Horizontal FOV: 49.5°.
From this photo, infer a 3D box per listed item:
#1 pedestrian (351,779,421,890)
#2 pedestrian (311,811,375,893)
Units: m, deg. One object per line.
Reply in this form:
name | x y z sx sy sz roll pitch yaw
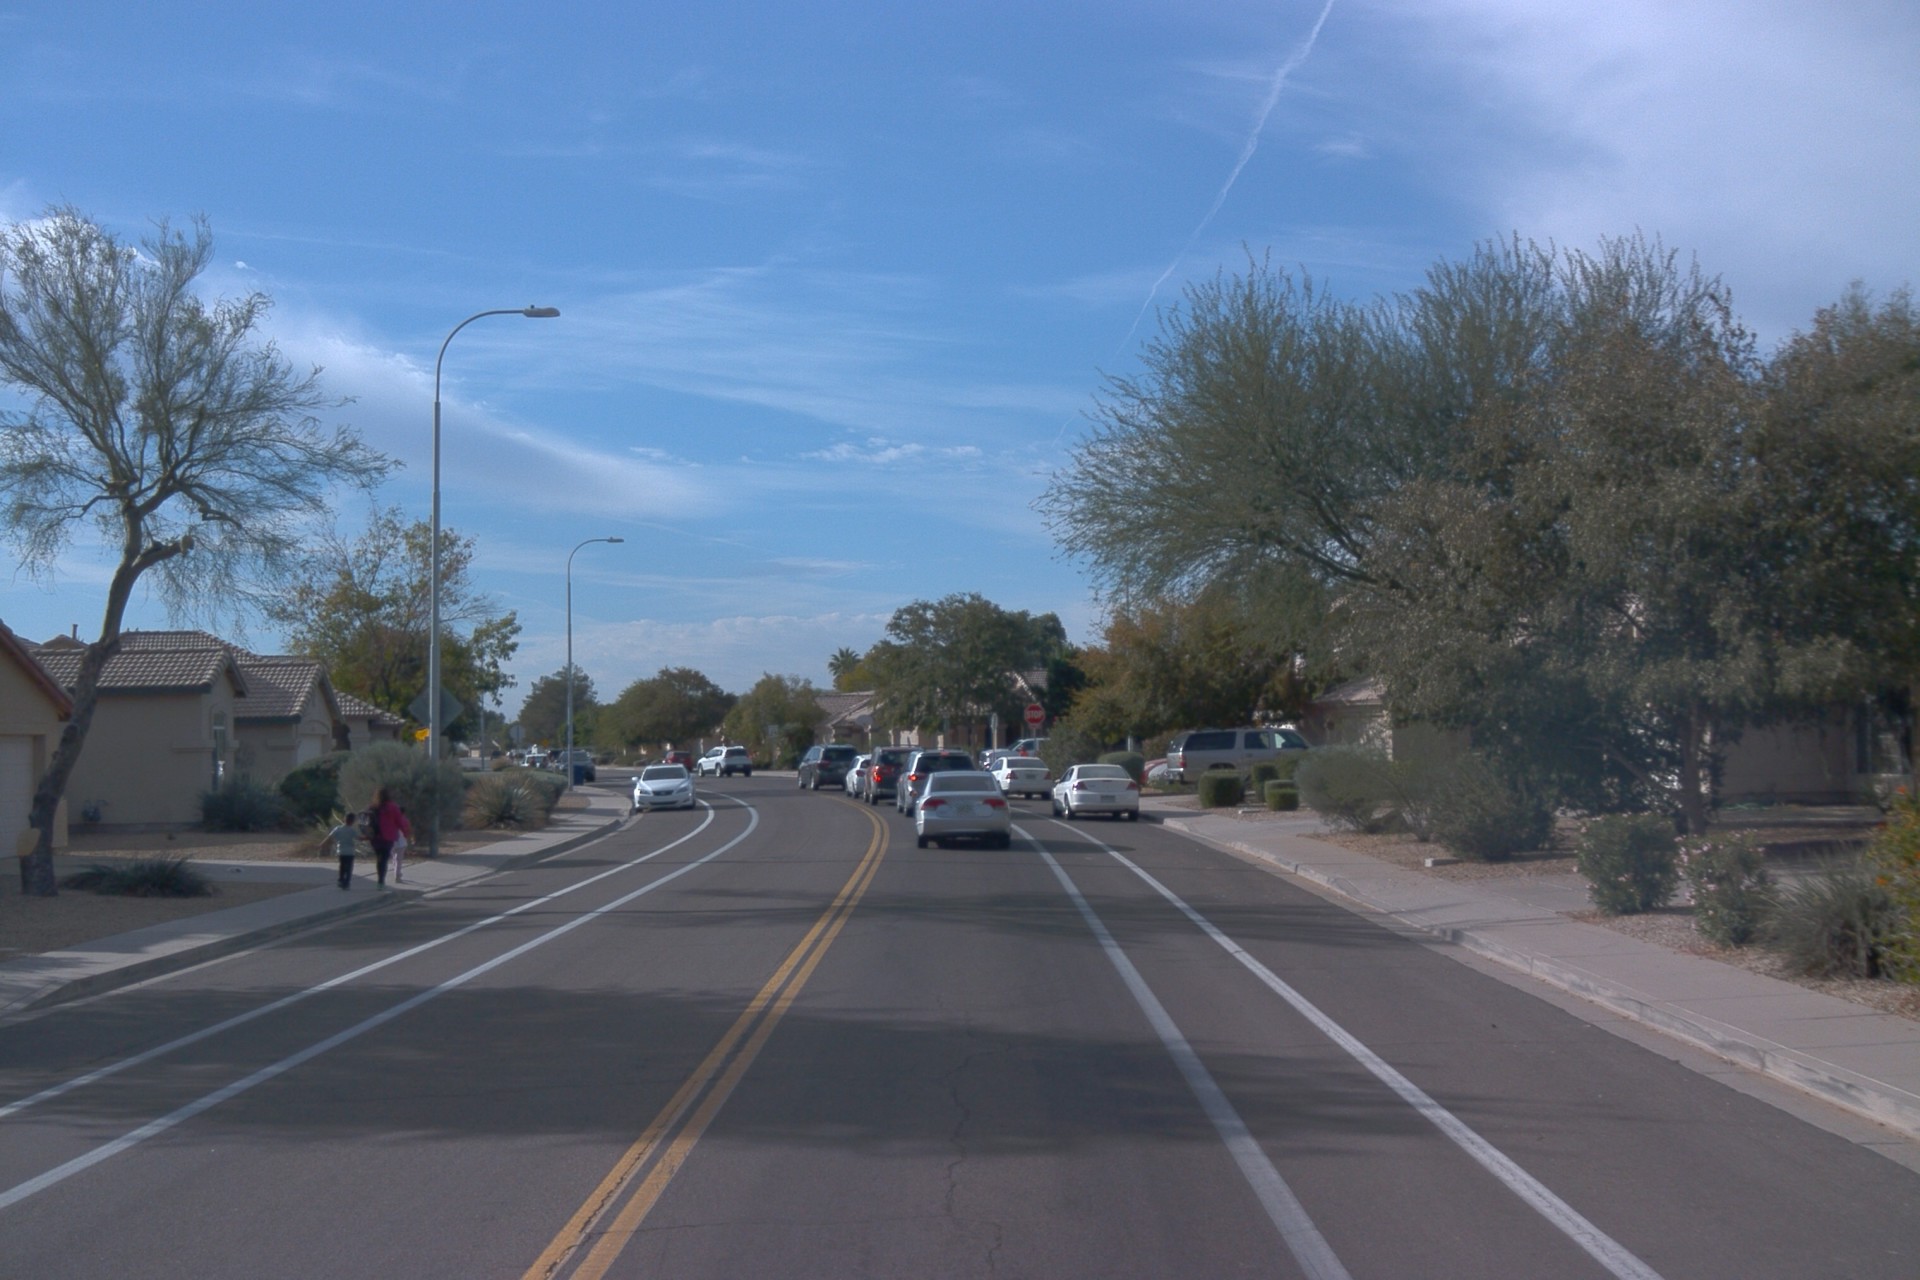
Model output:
pedestrian | -8.494 2.870 30.795 0.782 1.580 0.850 0 -1 1
pedestrian | -9.102 3.120 30.698 0.691 1.150 0.794 0 -1 1
